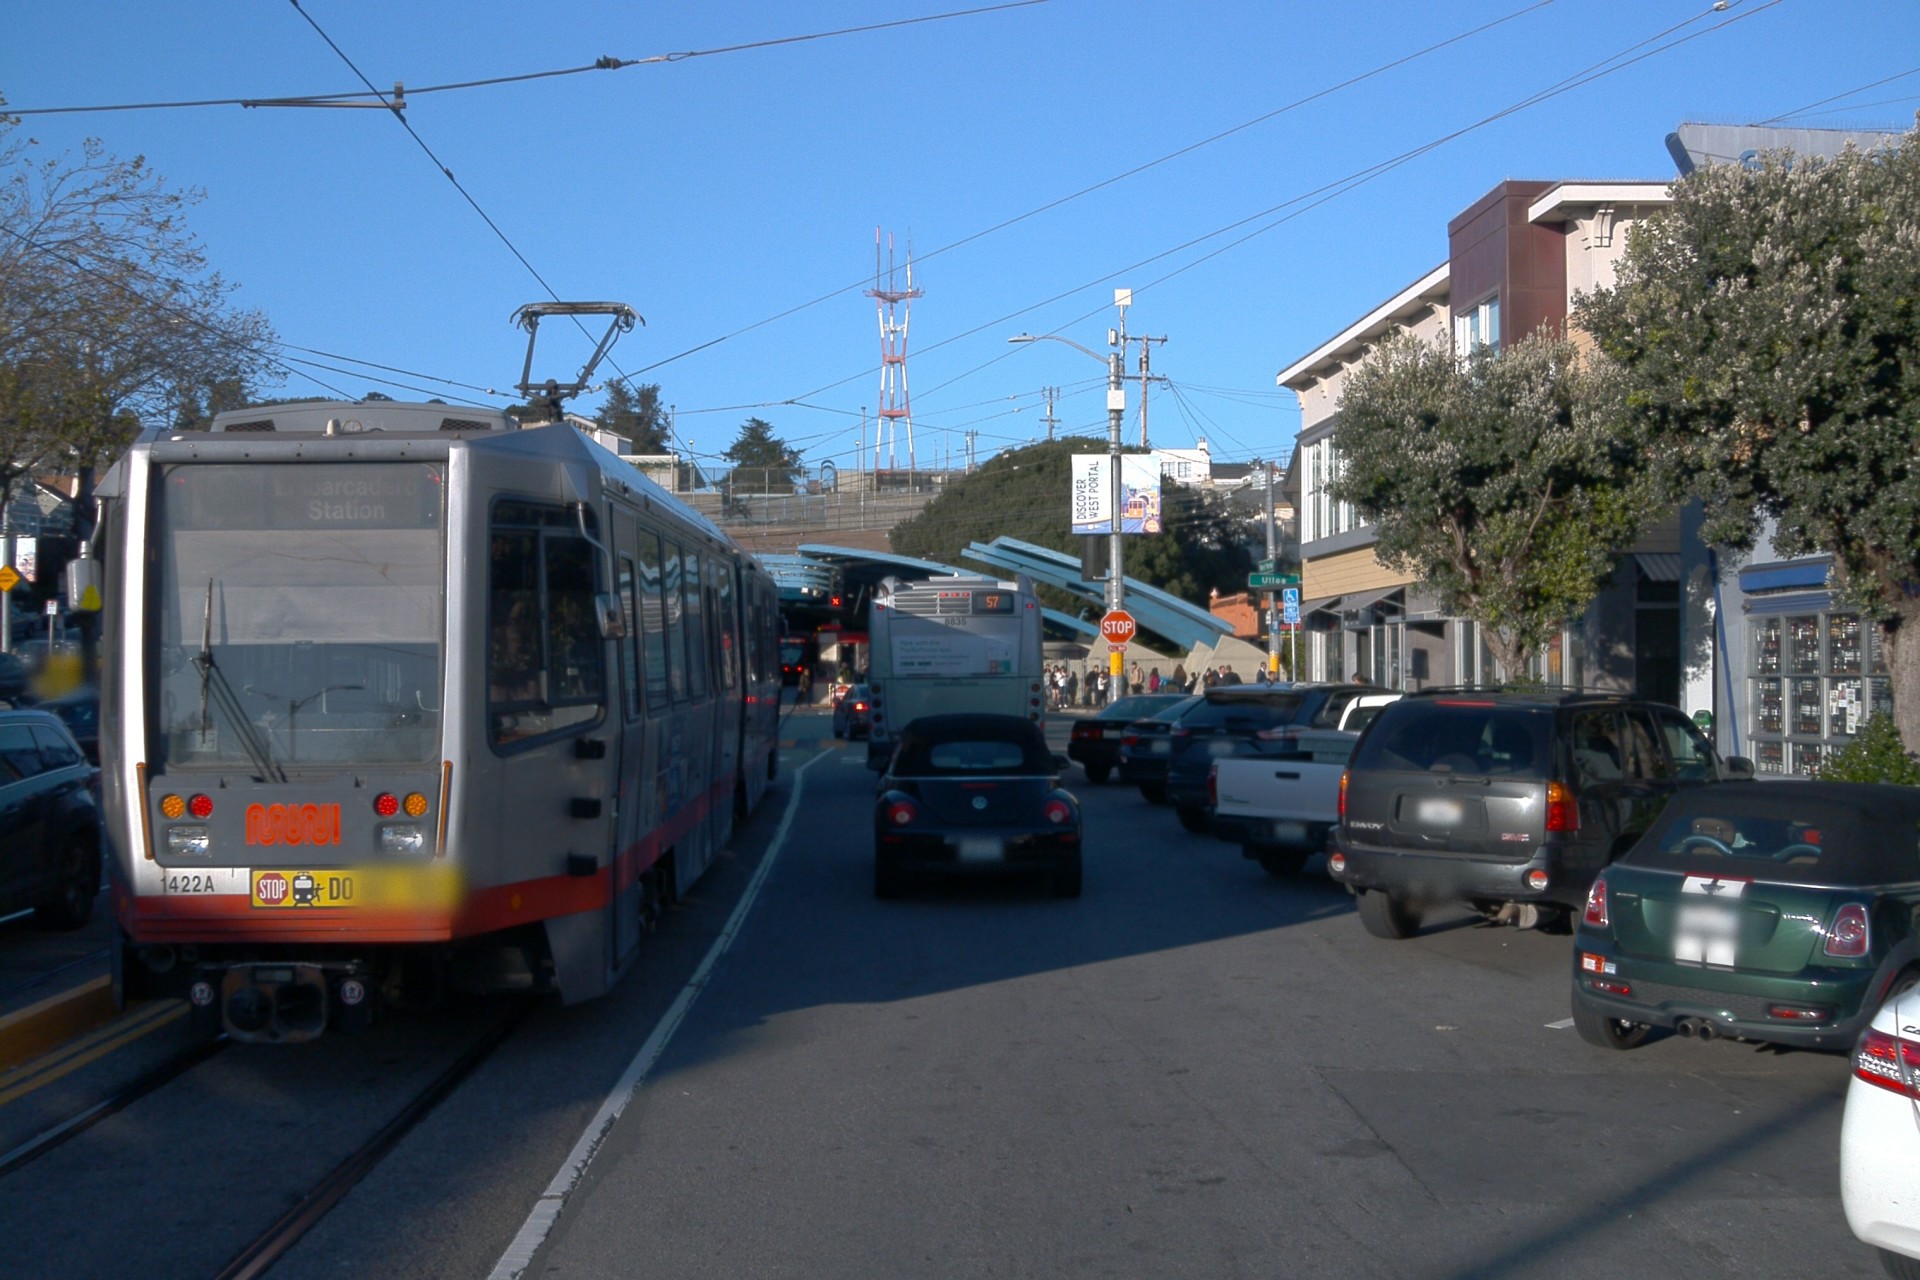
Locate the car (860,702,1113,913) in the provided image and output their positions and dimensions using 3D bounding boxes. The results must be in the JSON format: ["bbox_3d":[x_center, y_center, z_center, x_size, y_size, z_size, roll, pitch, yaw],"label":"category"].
[{"bbox_3d":[0.147,1.392,18.502,2.013,1.580,4.001,0,0,-2],"label":"car"}]

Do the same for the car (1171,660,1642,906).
[{"bbox_3d":[4.241,1.176,19.154,2.182,1.960,4.676,0,0,43],"label":"car"}]

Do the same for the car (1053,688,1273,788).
[{"bbox_3d":[3.297,1.511,33.013,1.871,1.420,3.909,0,0,34],"label":"car"}]

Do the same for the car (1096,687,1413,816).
[{"bbox_3d":[4.071,1.429,28.001,2.056,1.500,4.693,0,0,40],"label":"car"}]

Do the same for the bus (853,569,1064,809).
[{"bbox_3d":[0.273,0.727,35.819,2.994,3.400,12.786,0,0,3],"label":"bus"}]

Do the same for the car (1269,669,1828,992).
[{"bbox_3d":[4.528,1.207,15.361,2.267,1.940,4.890,0,0,39],"label":"car"}]

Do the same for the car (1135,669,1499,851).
[{"bbox_3d":[4.149,1.260,23.589,2.117,1.830,4.377,0,0,41],"label":"car"}]
